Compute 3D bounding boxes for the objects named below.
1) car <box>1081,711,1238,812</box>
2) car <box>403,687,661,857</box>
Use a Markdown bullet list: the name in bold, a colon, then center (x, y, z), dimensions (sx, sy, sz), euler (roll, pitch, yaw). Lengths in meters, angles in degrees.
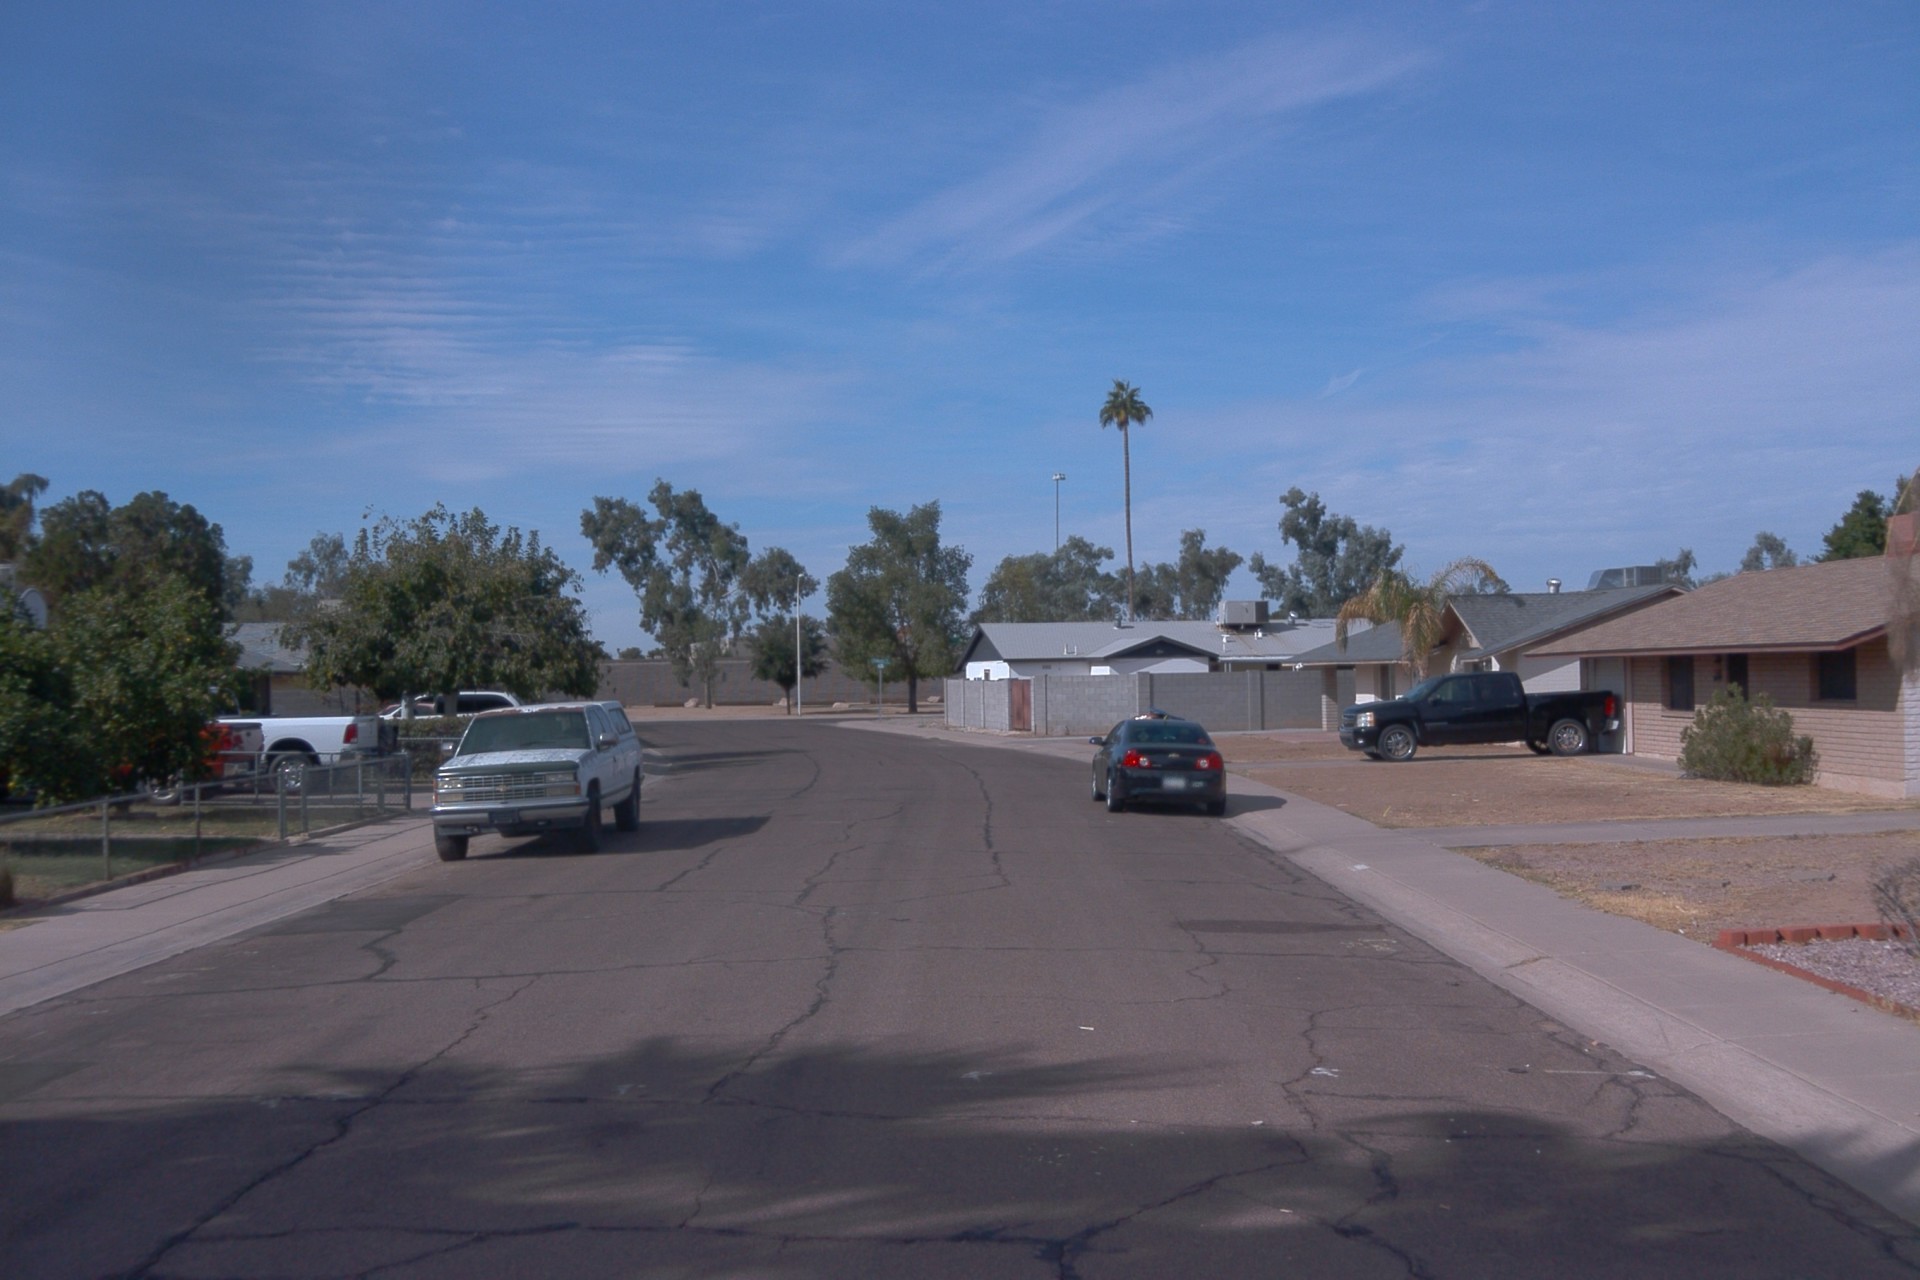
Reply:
- **car**: center (3.072, 1.869, 32.951), dimensions (1.890, 1.390, 4.691), euler (0, -1, -2)
- **car**: center (-5.496, 1.627, 27.543), dimensions (2.300, 1.980, 5.750), euler (0, -1, -1)
